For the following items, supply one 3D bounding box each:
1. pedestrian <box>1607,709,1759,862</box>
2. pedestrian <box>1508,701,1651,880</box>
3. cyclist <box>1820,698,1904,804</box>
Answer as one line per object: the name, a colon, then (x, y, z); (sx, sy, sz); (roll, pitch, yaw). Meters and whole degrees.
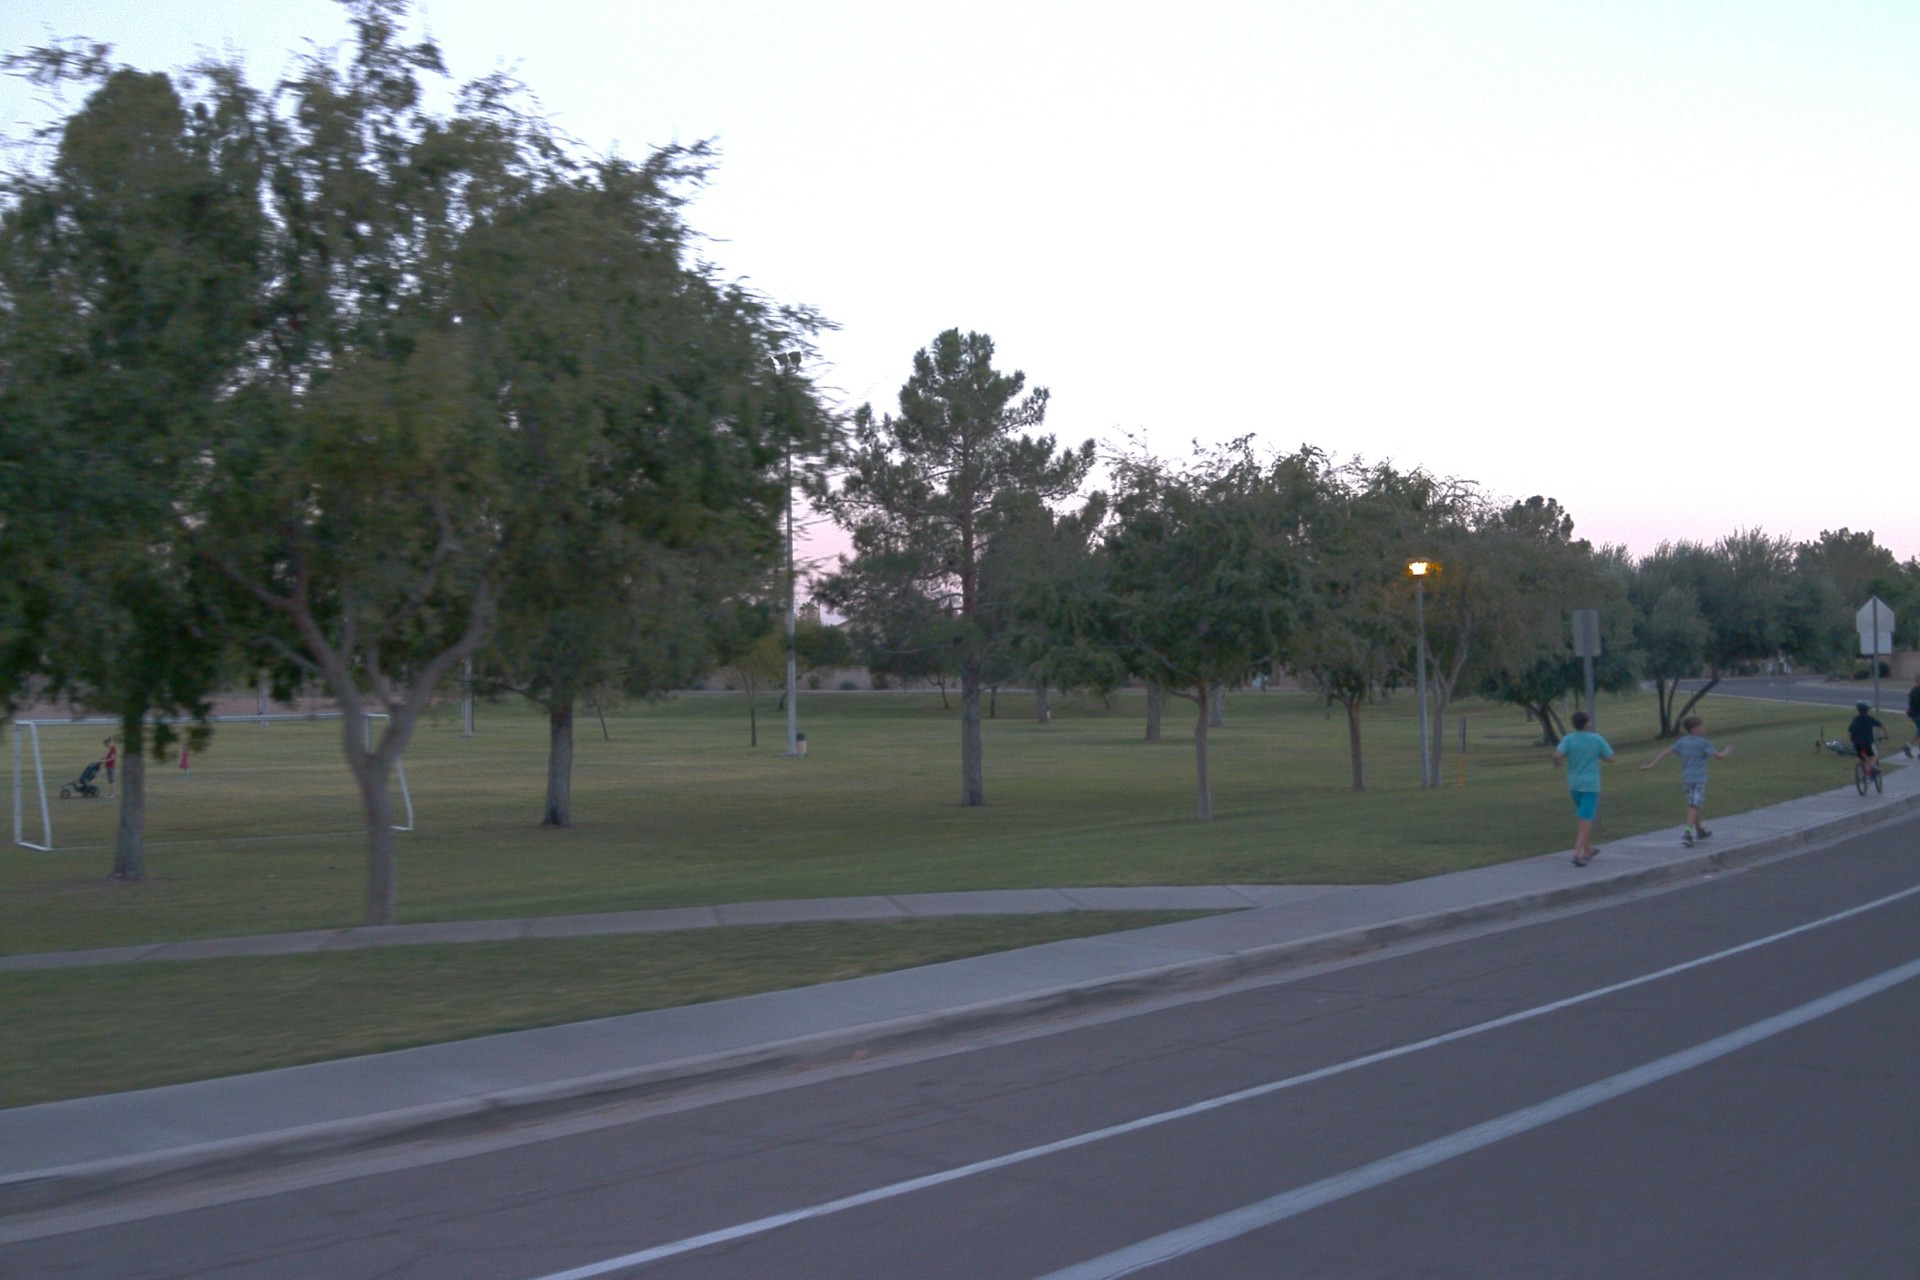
pedestrian: (7.896, 1.560, 22.818); (1.291, 1.560, 1.086); (1, 0, -43)
pedestrian: (6.194, 1.474, 20.877); (0.990, 1.680, 1.119); (0, 0, 41)
cyclist: (13.163, 1.602, 30.477); (0.772, 1.460, 1.641); (0, 0, 36)
